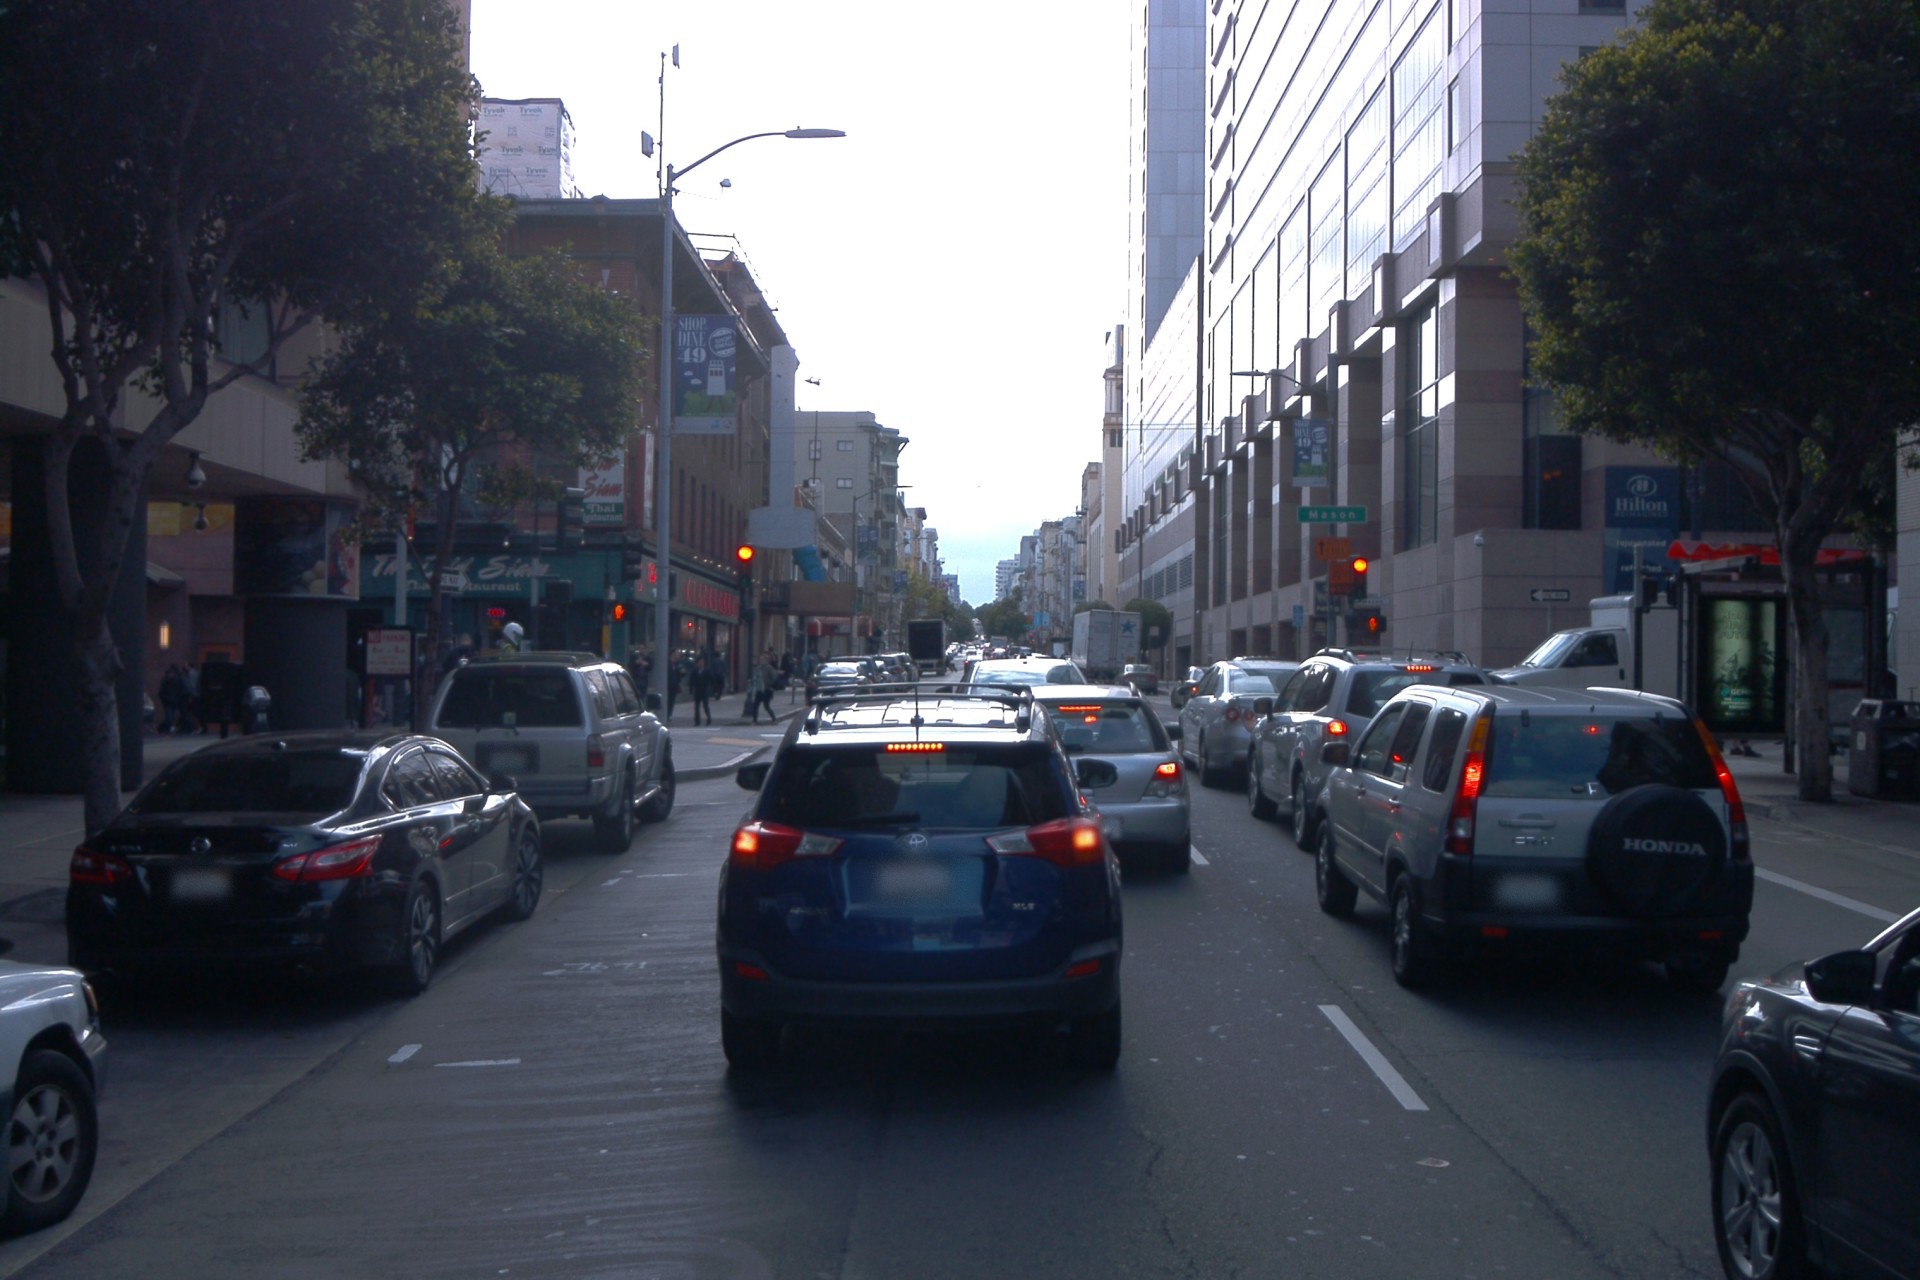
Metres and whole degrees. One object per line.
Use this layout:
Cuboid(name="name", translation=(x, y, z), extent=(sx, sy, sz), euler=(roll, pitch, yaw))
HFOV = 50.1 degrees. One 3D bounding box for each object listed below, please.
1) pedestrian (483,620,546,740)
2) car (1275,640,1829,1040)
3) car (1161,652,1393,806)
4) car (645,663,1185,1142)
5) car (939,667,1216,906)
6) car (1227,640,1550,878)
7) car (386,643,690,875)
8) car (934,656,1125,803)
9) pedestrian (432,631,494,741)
Cuboid(name="pedestrian", translation=(-7.062, 0.619, 32.616), extent=(0.708, 1.880, 0.658), euler=(0, 1, 29))
Cuboid(name="car", translation=(3.276, 0.989, 12.440), extent=(1.983, 1.910, 4.572), euler=(0, 1, -1))
Cuboid(name="car", translation=(3.696, 0.983, 24.883), extent=(2.063, 1.590, 4.797), euler=(0, 1, 0))
Cuboid(name="car", translation=(-0.187, 1.092, 10.611), extent=(2.184, 1.830, 4.555), euler=(0, 1, 0))
Cuboid(name="car", translation=(0.940, 1.106, 17.429), extent=(2.030, 1.630, 4.707), euler=(0, 1, 2))
Cuboid(name="car", translation=(3.774, 0.965, 18.999), extent=(2.029, 1.870, 4.664), euler=(0, 1, 0))
Cuboid(name="car", translation=(-3.867, 1.010, 19.698), extent=(1.995, 1.880, 4.690), euler=(0, 1, -1))
Cuboid(name="car", translation=(0.726, 0.993, 24.672), extent=(2.074, 1.500, 4.589), euler=(0, 1, -1))
Cuboid(name="pedestrian", translation=(-7.645, 0.696, 31.656), extent=(0.778, 1.650, 0.864), euler=(0, 1, -2))
